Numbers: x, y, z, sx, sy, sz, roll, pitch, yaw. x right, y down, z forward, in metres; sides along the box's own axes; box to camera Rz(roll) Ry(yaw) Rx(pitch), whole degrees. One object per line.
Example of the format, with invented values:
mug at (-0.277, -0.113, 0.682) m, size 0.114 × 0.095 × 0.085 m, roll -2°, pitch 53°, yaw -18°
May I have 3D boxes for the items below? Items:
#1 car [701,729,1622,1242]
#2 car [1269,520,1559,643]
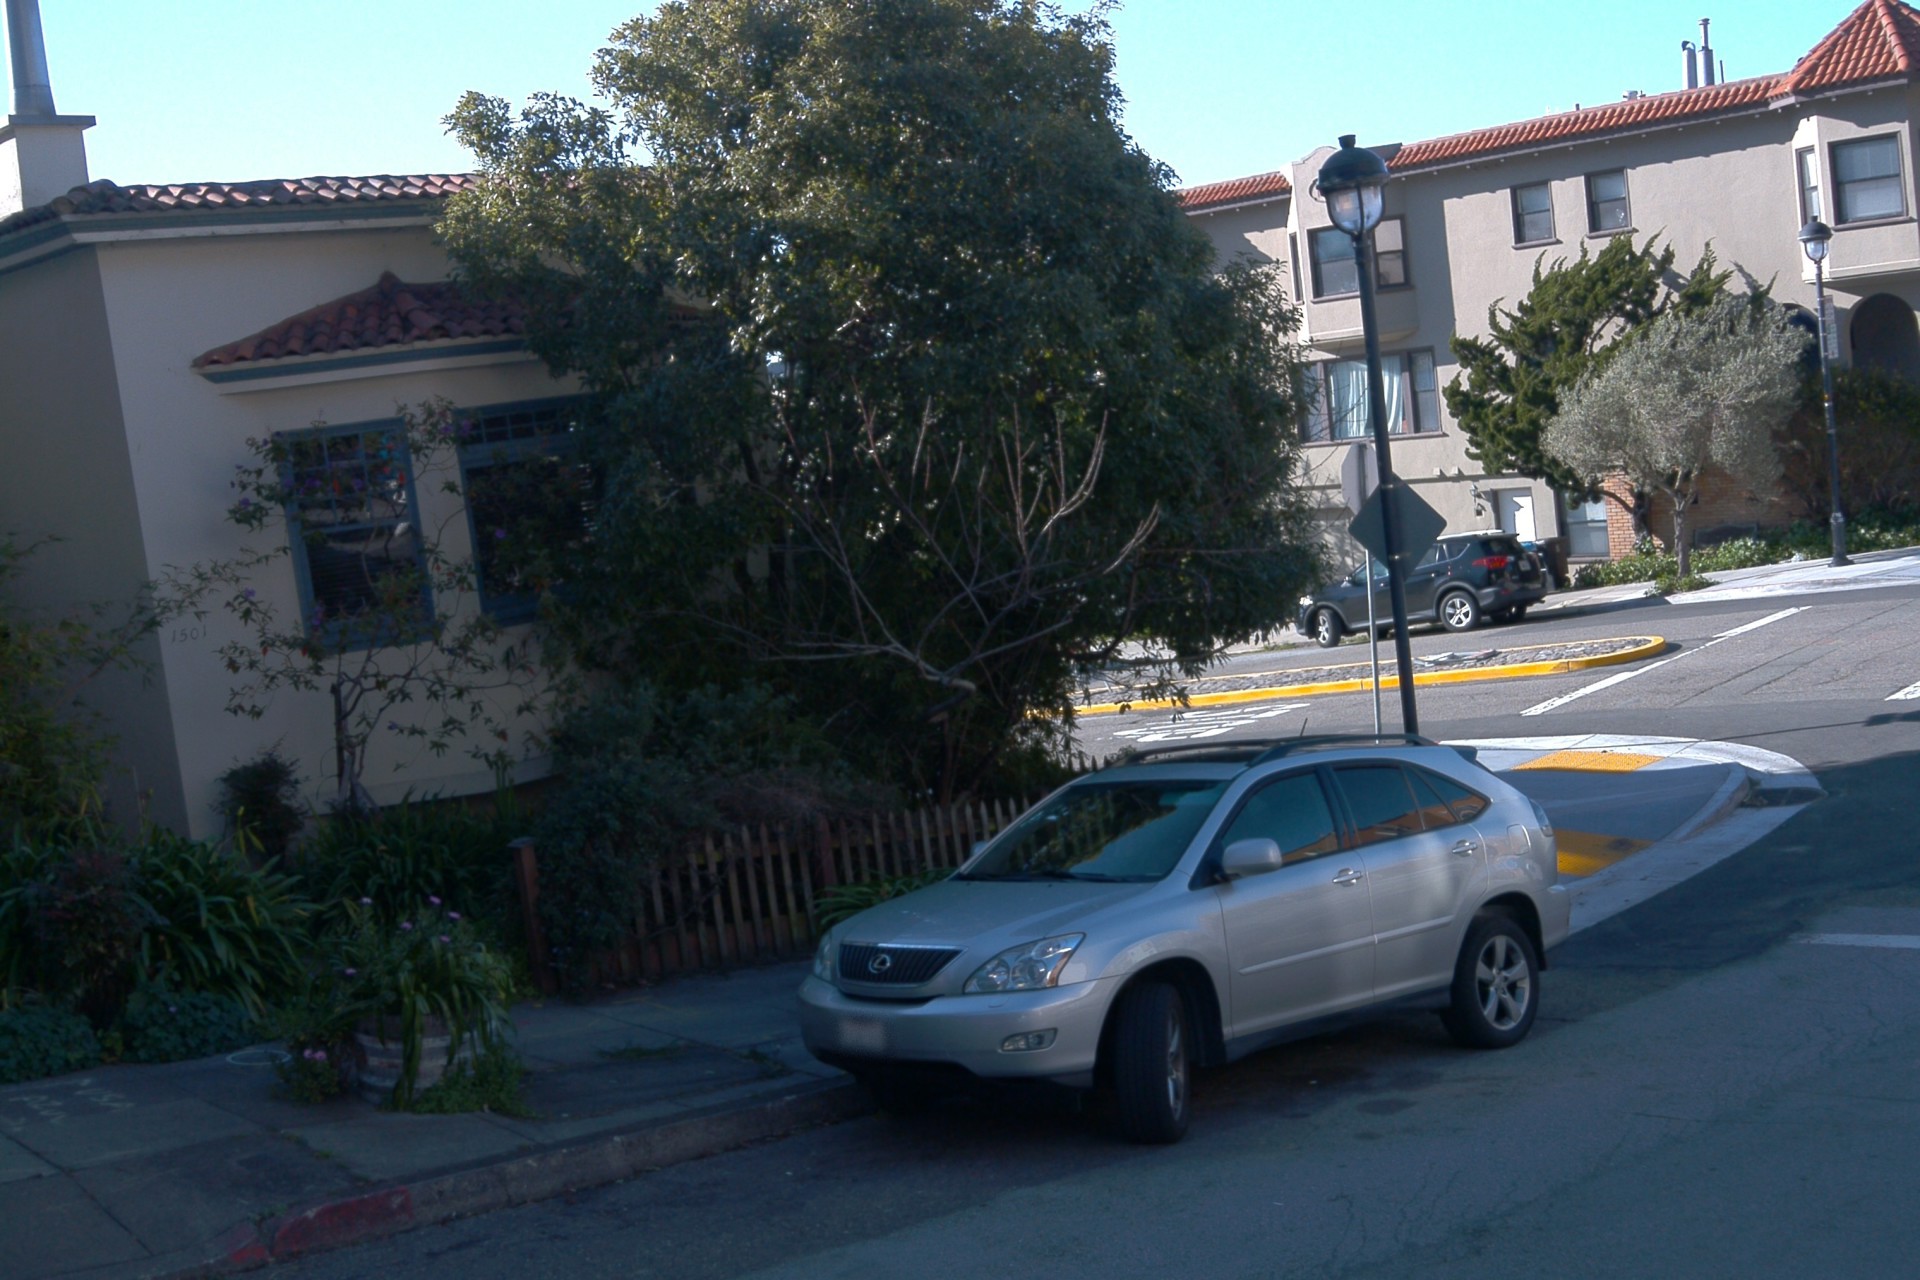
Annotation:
car at (1.210, 1.477, 10.599) m, size 4.666 × 1.810 × 2.097 m, roll -1°, pitch 0°, yaw -43°
car at (7.992, -0.977, 36.729) m, size 4.526 × 2.020 × 2.204 m, roll 0°, pitch 0°, yaw 45°
